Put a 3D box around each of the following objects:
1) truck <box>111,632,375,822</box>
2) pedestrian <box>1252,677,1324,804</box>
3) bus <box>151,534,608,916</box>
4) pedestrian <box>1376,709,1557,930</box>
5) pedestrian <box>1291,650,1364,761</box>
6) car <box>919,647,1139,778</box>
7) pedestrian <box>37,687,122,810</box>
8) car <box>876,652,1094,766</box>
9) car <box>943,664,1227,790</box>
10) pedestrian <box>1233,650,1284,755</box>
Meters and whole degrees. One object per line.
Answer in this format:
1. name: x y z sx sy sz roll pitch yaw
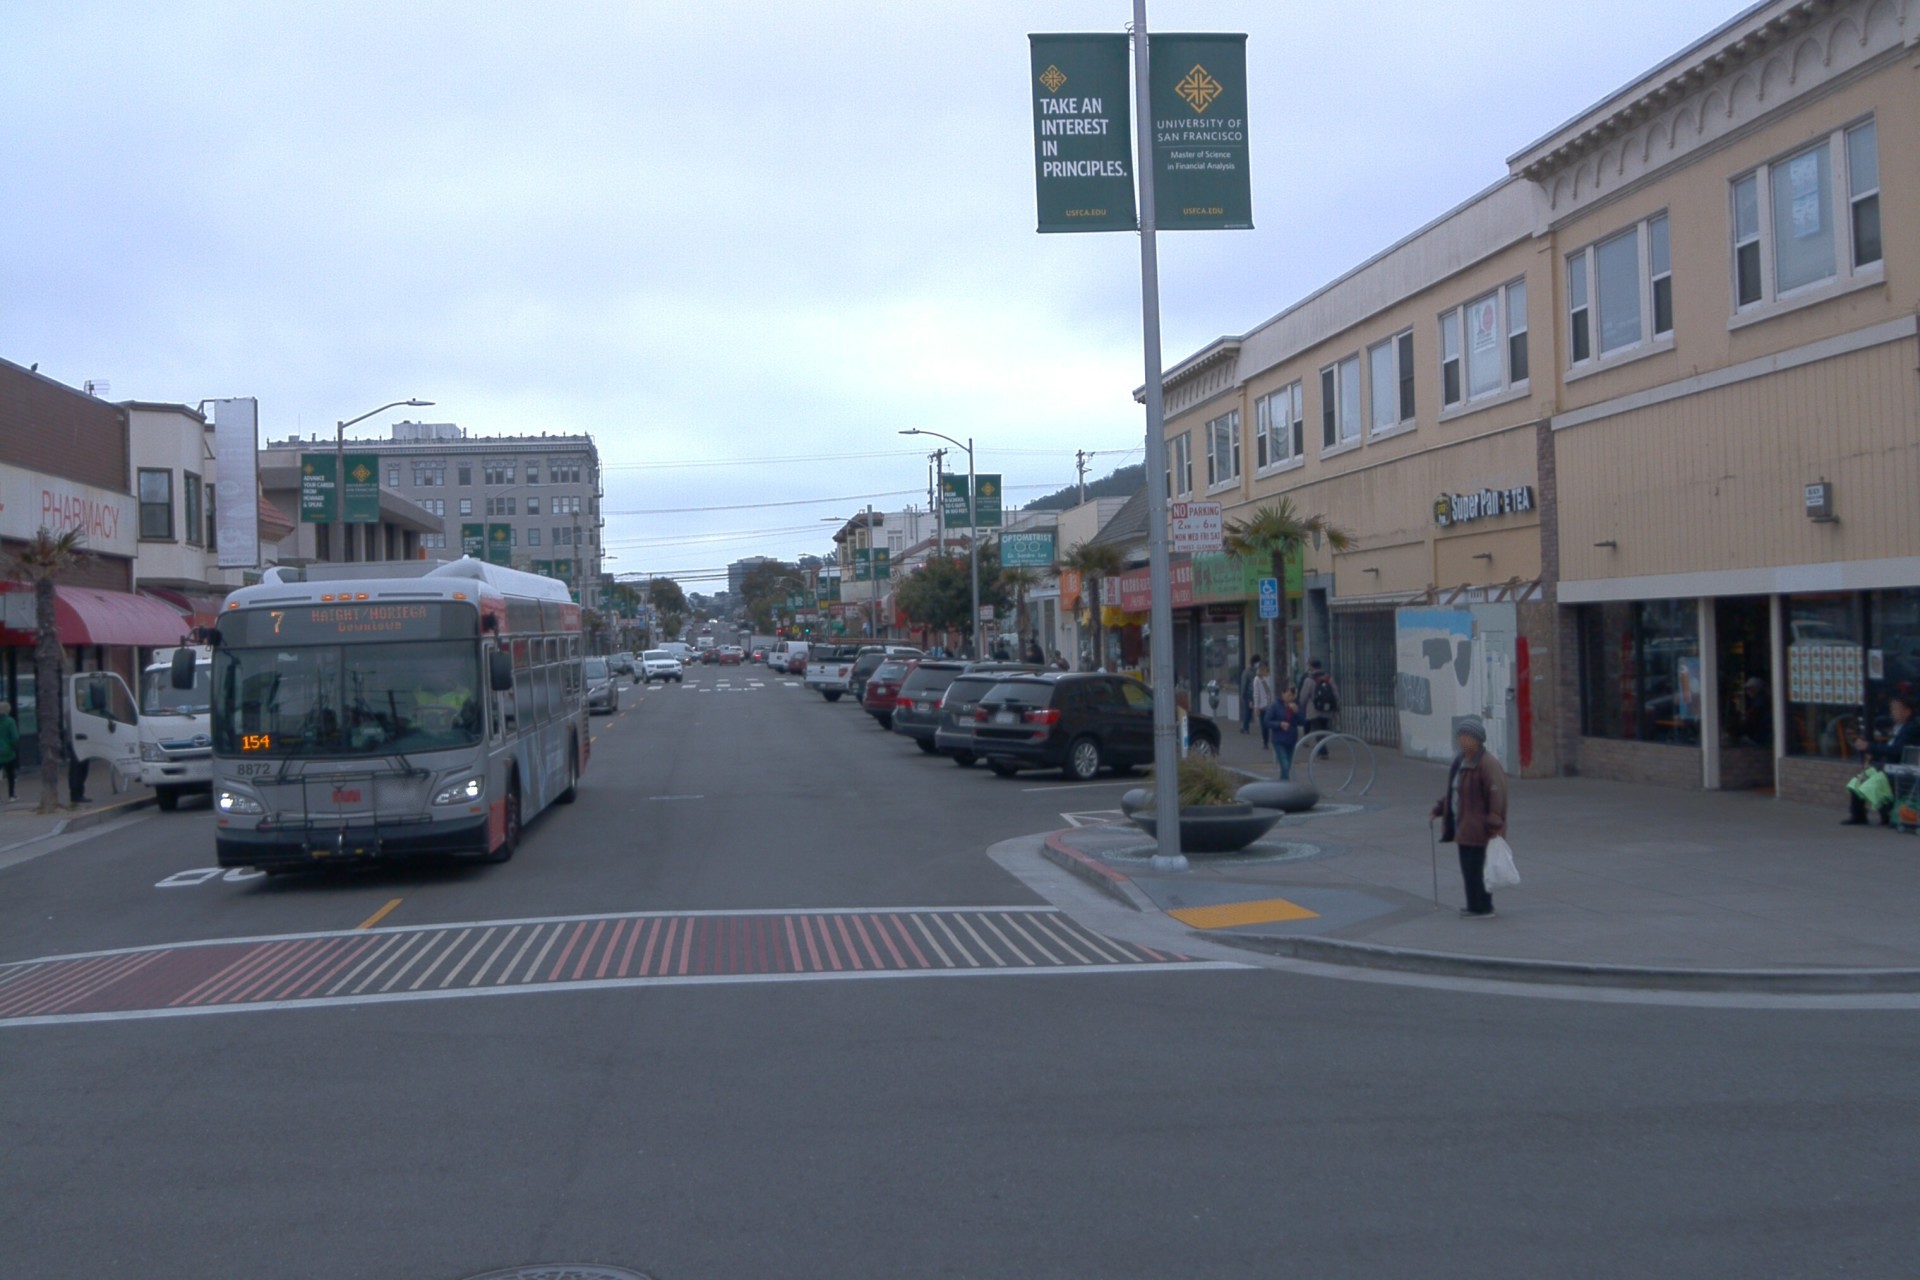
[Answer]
1. truck: -11.734 1.277 34.349 2.559 2.730 7.414 0 1 -6
2. pedestrian: 4.262 1.297 26.740 0.747 1.598 0.778 0 1 -5
3. bus: -6.385 0.674 25.166 3.210 3.480 12.606 0 1 -6
4. pedestrian: 3.681 1.276 15.007 0.827 1.477 1.073 -1 1 -19
5. pedestrian: 6.040 1.059 33.816 0.922 1.770 0.951 0 1 -7
6. car: 1.218 1.183 35.242 1.761 2.040 3.671 1 1 44
7. pedestrian: -13.573 1.655 31.725 0.944 1.830 0.919 0 1 -5
8. car: 0.505 1.230 38.452 1.922 1.931 3.846 1 1 45
9. car: 2.060 1.327 32.904 4.509 1.740 2.044 -1 1 -44
10. pedestrian: 5.284 1.093 36.415 0.711 1.824 0.916 0 1 -3
